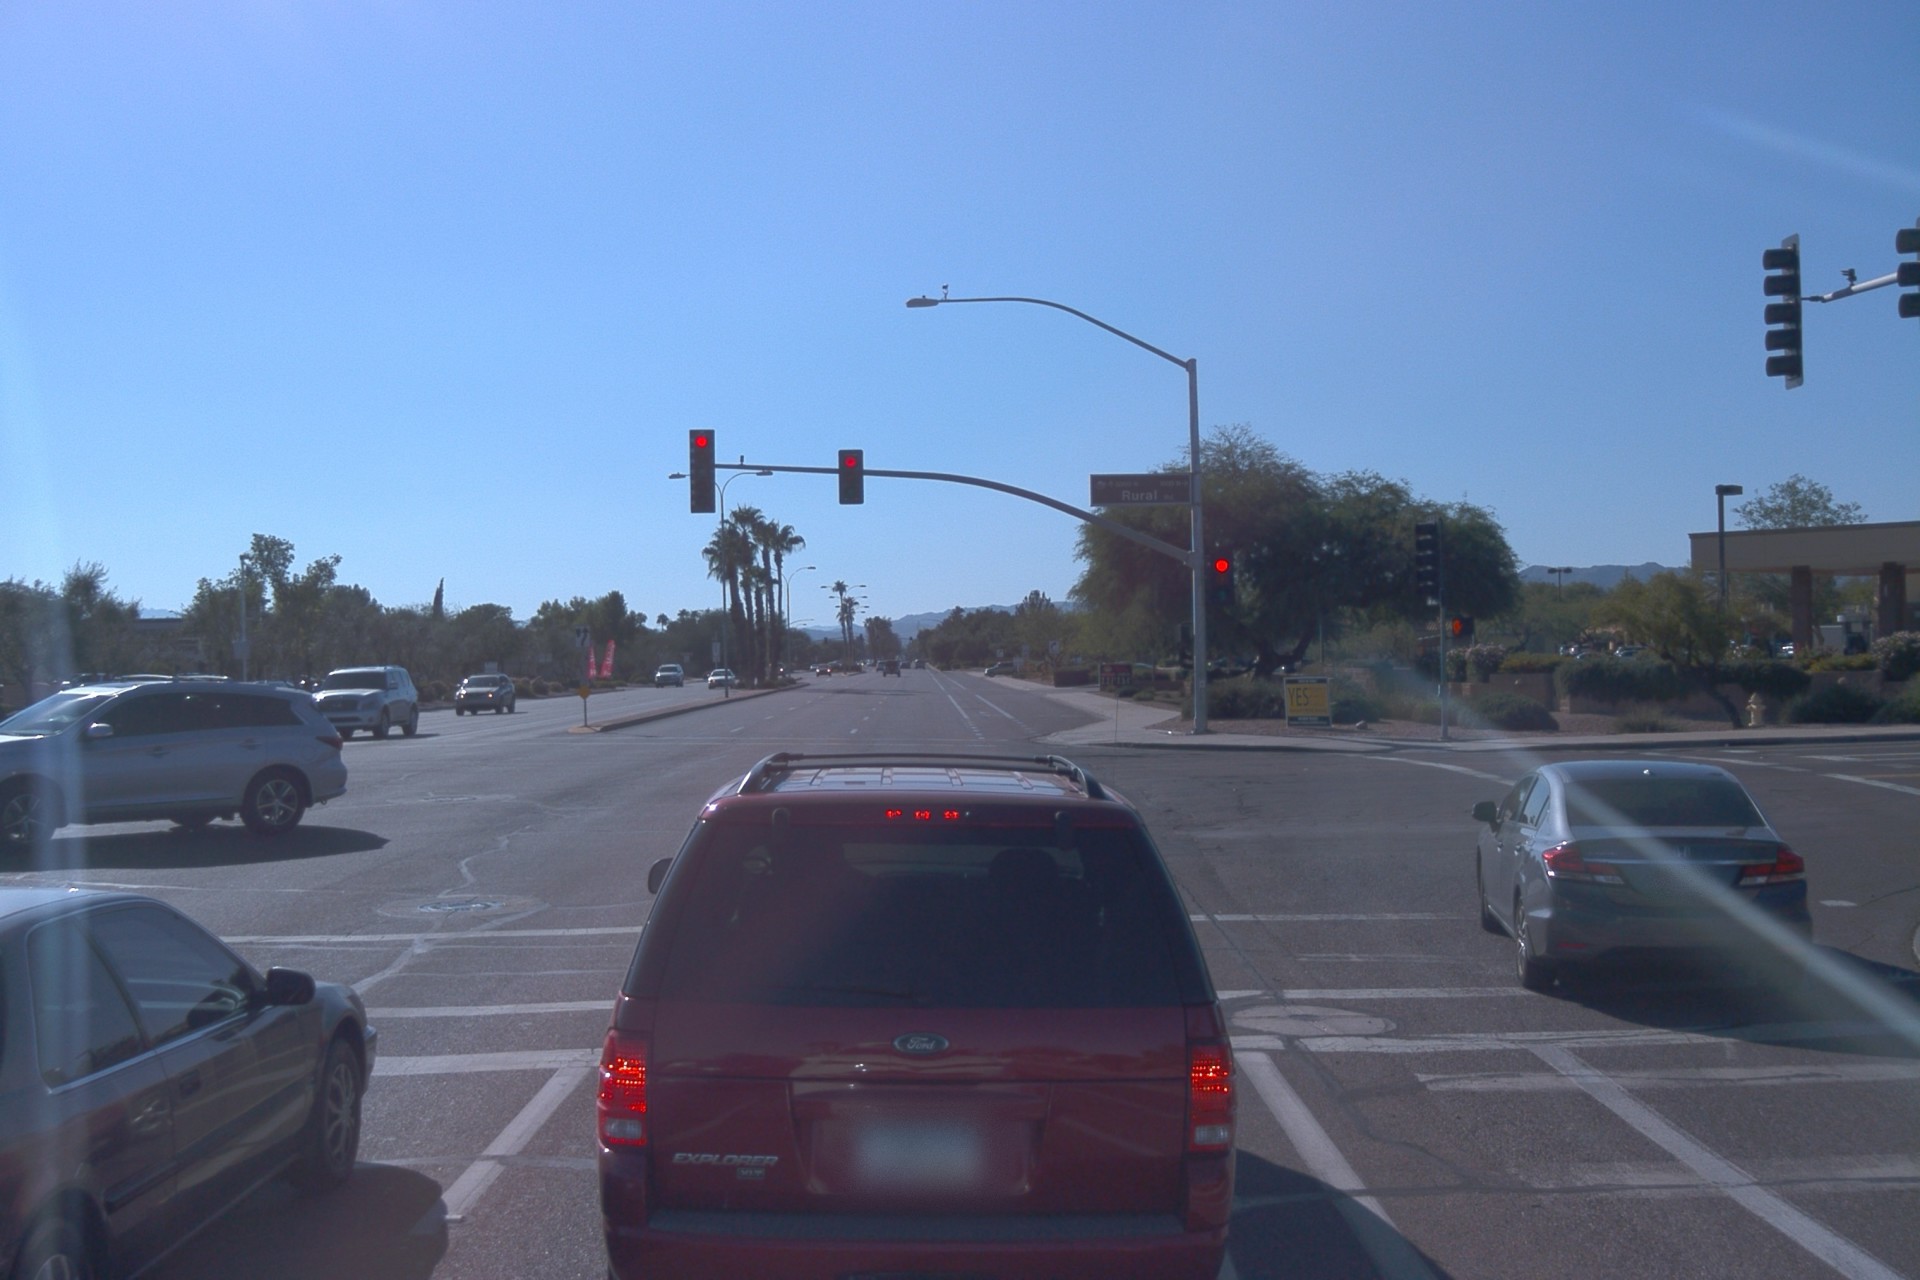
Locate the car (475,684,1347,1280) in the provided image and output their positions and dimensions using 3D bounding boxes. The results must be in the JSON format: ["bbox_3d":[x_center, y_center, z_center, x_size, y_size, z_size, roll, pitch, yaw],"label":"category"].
[{"bbox_3d":[-0.181,1.202,7.464,2.169,2.040,4.462,1,-1,-2],"label":"car"}]

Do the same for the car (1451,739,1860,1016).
[{"bbox_3d":[4.687,1.523,14.733,1.989,1.470,4.504,0,-1,9],"label":"car"}]
